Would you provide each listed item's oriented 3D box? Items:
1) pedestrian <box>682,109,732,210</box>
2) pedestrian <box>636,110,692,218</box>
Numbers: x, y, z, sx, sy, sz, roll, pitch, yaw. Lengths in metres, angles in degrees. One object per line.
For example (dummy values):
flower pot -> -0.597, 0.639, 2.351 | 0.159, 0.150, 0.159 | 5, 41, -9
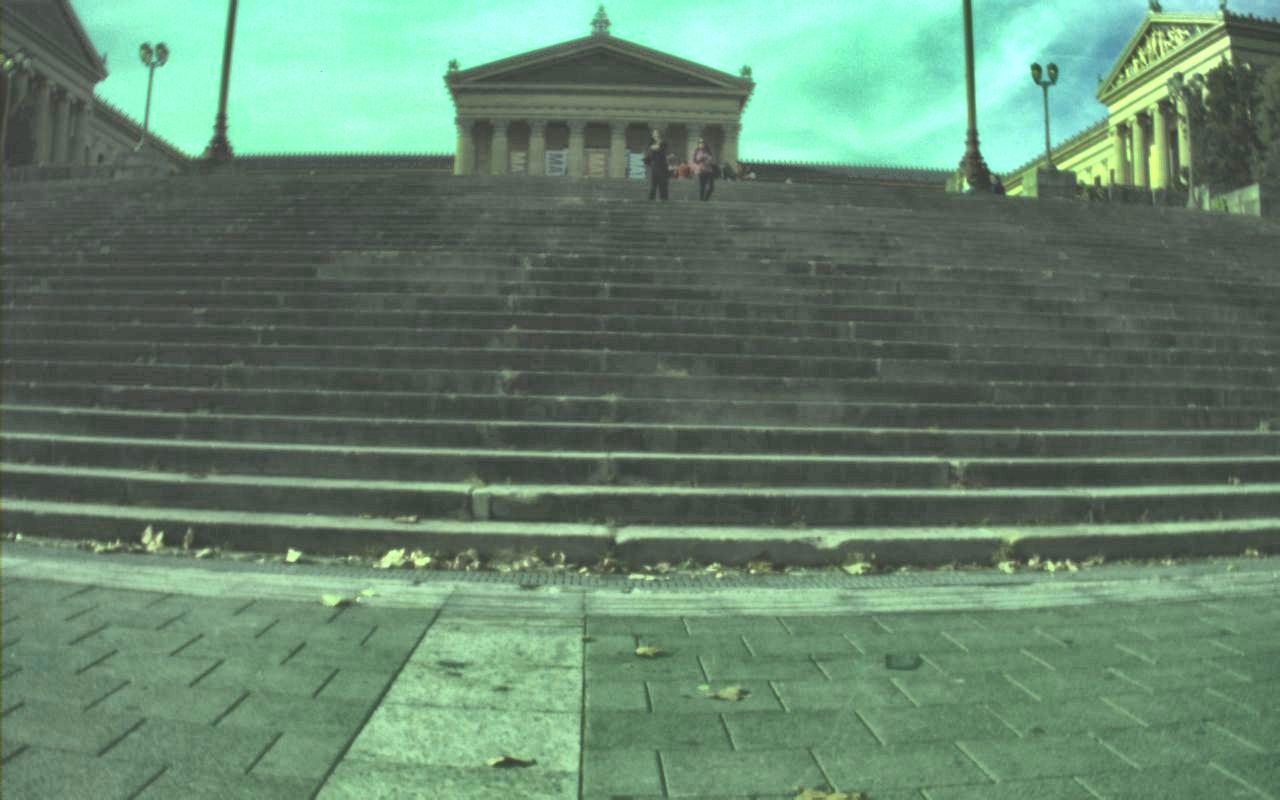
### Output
pedestrian -> 1.259, -4.478, 23.388 | 0.721, 1.774, 0.730 | 1, 0, 22
pedestrian -> 0.425, -4.291, 22.847 | 0.874, 1.834, 0.875 | 0, 0, -9
